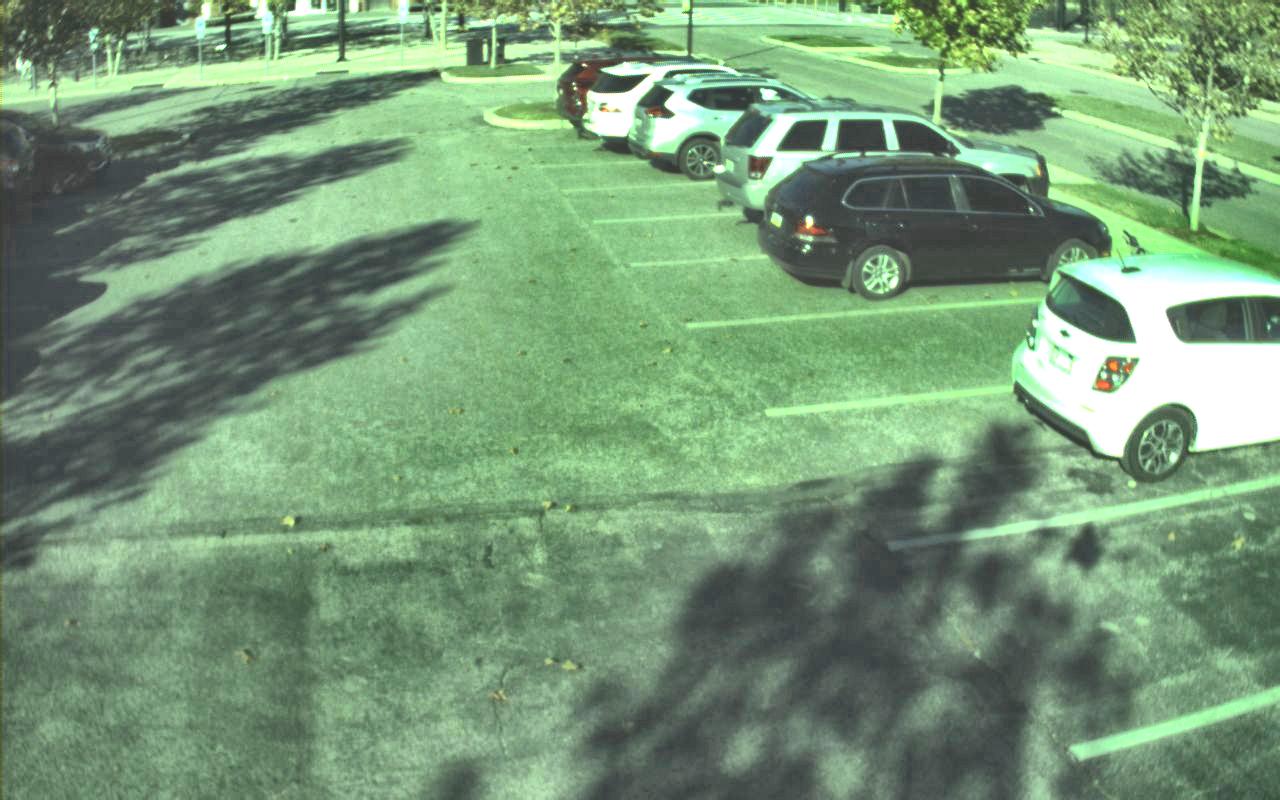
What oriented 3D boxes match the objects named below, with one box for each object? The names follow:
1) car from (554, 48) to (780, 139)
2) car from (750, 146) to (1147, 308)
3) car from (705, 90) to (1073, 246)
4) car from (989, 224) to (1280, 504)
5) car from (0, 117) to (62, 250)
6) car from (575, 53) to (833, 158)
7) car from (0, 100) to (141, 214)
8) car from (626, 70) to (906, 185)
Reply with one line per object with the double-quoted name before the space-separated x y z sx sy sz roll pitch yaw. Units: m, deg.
"car" 0.551 -6.632 26.607 4.482 1.766 1.994 -5 17 -13
"car" 3.698 -2.160 14.585 4.465 1.523 1.925 -5 17 -12
"car" 3.439 -3.292 16.962 4.741 1.859 2.048 -4 17 -11
"car" 5.361 -0.484 9.872 4.437 1.703 1.963 -4 17 -11
"car" -12.380 -3.710 18.641 4.474 1.660 1.994 -3 16 -7
"car" 1.217 -5.764 24.013 4.609 1.818 2.021 -5 17 -14
"car" -12.194 -4.750 21.954 4.489 1.655 1.997 -2 16 -4
"car" 2.175 -4.843 21.724 4.567 1.802 2.004 -4 16 -10
